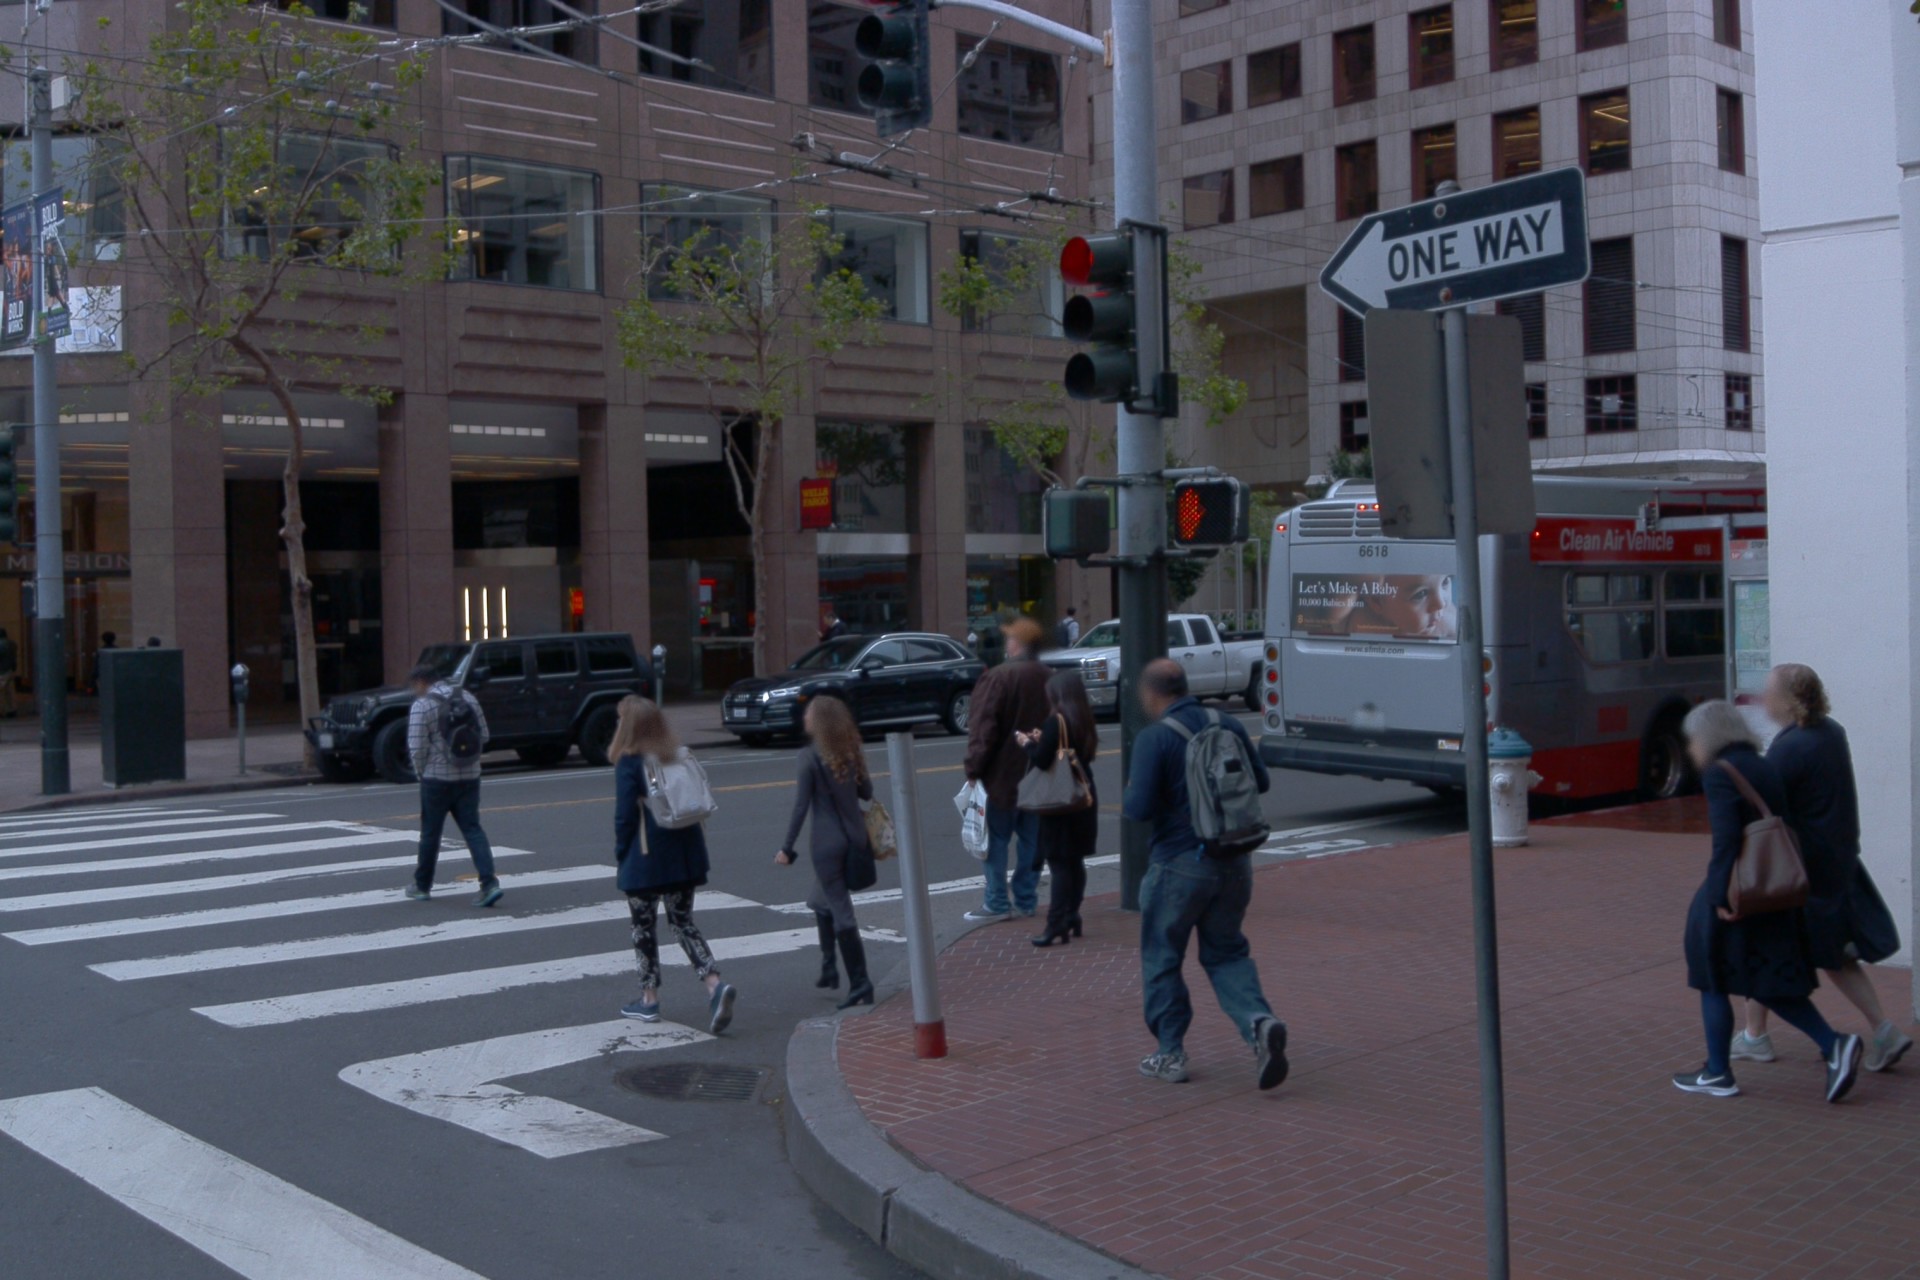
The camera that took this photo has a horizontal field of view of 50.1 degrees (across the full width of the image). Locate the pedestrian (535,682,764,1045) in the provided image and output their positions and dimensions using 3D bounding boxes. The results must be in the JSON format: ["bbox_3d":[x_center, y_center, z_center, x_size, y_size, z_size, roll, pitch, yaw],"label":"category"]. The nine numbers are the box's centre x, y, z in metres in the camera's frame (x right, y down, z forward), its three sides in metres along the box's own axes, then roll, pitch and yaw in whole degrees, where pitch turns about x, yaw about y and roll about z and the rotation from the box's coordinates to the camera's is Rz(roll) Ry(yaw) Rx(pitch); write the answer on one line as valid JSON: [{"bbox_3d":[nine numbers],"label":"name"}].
[{"bbox_3d":[-1.612,1.100,10.619,0.748,1.726,0.990,0,0,-41],"label":"pedestrian"}]

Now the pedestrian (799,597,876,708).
[{"bbox_3d":[-2.229,0.222,37.351,1.067,1.985,0.895,0,0,-42],"label":"pedestrian"}]

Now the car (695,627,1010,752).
[{"bbox_3d":[-1.603,0.691,31.764,4.539,1.770,2.126,-1,1,-43],"label":"car"}]

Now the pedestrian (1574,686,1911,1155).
[{"bbox_3d":[2.880,0.968,7.586,0.776,1.556,0.899,0,0,-41],"label":"pedestrian"}]

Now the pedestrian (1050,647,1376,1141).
[{"bbox_3d":[0.977,0.922,8.102,0.829,1.776,1.009,0,0,-29],"label":"pedestrian"}]

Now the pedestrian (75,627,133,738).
[{"bbox_3d":[-13.647,0.661,32.772,0.824,1.716,1.000,0,0,-24],"label":"pedestrian"}]

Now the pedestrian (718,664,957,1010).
[{"bbox_3d":[-0.662,1.004,11.051,0.975,1.726,0.841,0,0,44],"label":"pedestrian"}]

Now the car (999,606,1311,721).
[{"bbox_3d":[3.566,0.353,36.571,2.385,1.890,5.778,0,1,45],"label":"car"}]

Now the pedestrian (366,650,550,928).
[{"bbox_3d":[-3.464,0.985,14.179,1.066,1.816,0.777,0,0,44],"label":"pedestrian"}]

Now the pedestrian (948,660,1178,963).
[{"bbox_3d":[0.582,0.928,11.699,0.971,1.606,0.869,0,0,44],"label":"pedestrian"}]

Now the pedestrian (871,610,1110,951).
[{"bbox_3d":[0.177,0.803,12.616,0.950,1.968,1.152,0,0,-38],"label":"pedestrian"}]

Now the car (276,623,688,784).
[{"bbox_3d":[-6.322,0.756,27.579,4.963,1.950,2.149,-1,1,-43],"label":"car"}]
